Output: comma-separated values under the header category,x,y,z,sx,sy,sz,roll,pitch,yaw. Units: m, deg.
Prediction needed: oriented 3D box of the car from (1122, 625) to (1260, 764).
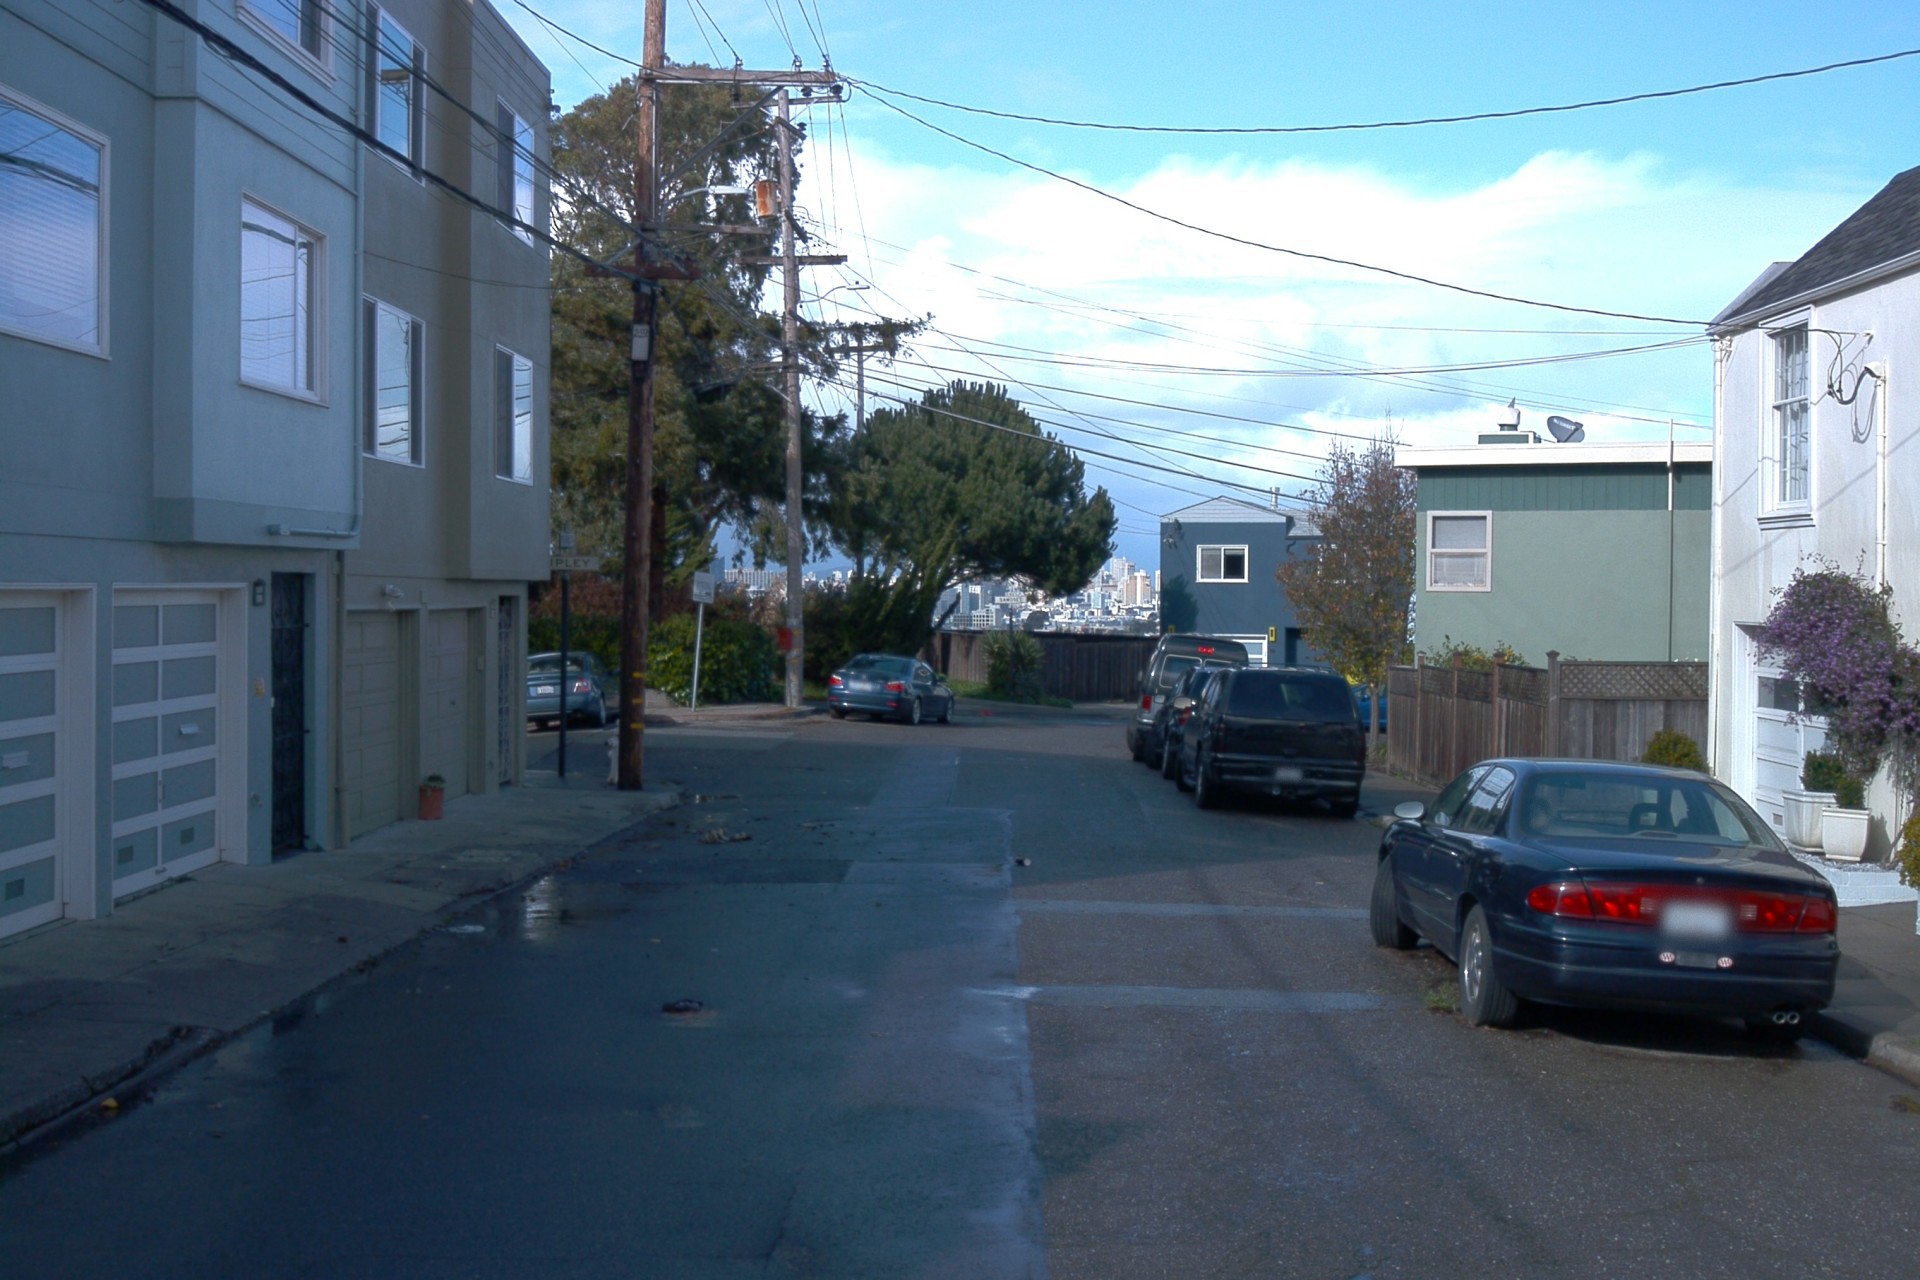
category,x,y,z,sx,sy,sz,roll,pitch,yaw
car,4.170,0.911,37.744,2.287,2.280,5.497,1,1,5

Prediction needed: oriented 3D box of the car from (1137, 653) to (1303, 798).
category,x,y,z,sx,sy,sz,roll,pitch,yaw
car,3.987,1.262,32.280,2.071,1.960,4.716,1,1,1

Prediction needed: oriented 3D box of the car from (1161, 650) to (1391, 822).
category,x,y,z,sx,sy,sz,roll,pitch,yaw
car,3.974,1.145,26.793,2.280,1.880,5.115,1,1,1
